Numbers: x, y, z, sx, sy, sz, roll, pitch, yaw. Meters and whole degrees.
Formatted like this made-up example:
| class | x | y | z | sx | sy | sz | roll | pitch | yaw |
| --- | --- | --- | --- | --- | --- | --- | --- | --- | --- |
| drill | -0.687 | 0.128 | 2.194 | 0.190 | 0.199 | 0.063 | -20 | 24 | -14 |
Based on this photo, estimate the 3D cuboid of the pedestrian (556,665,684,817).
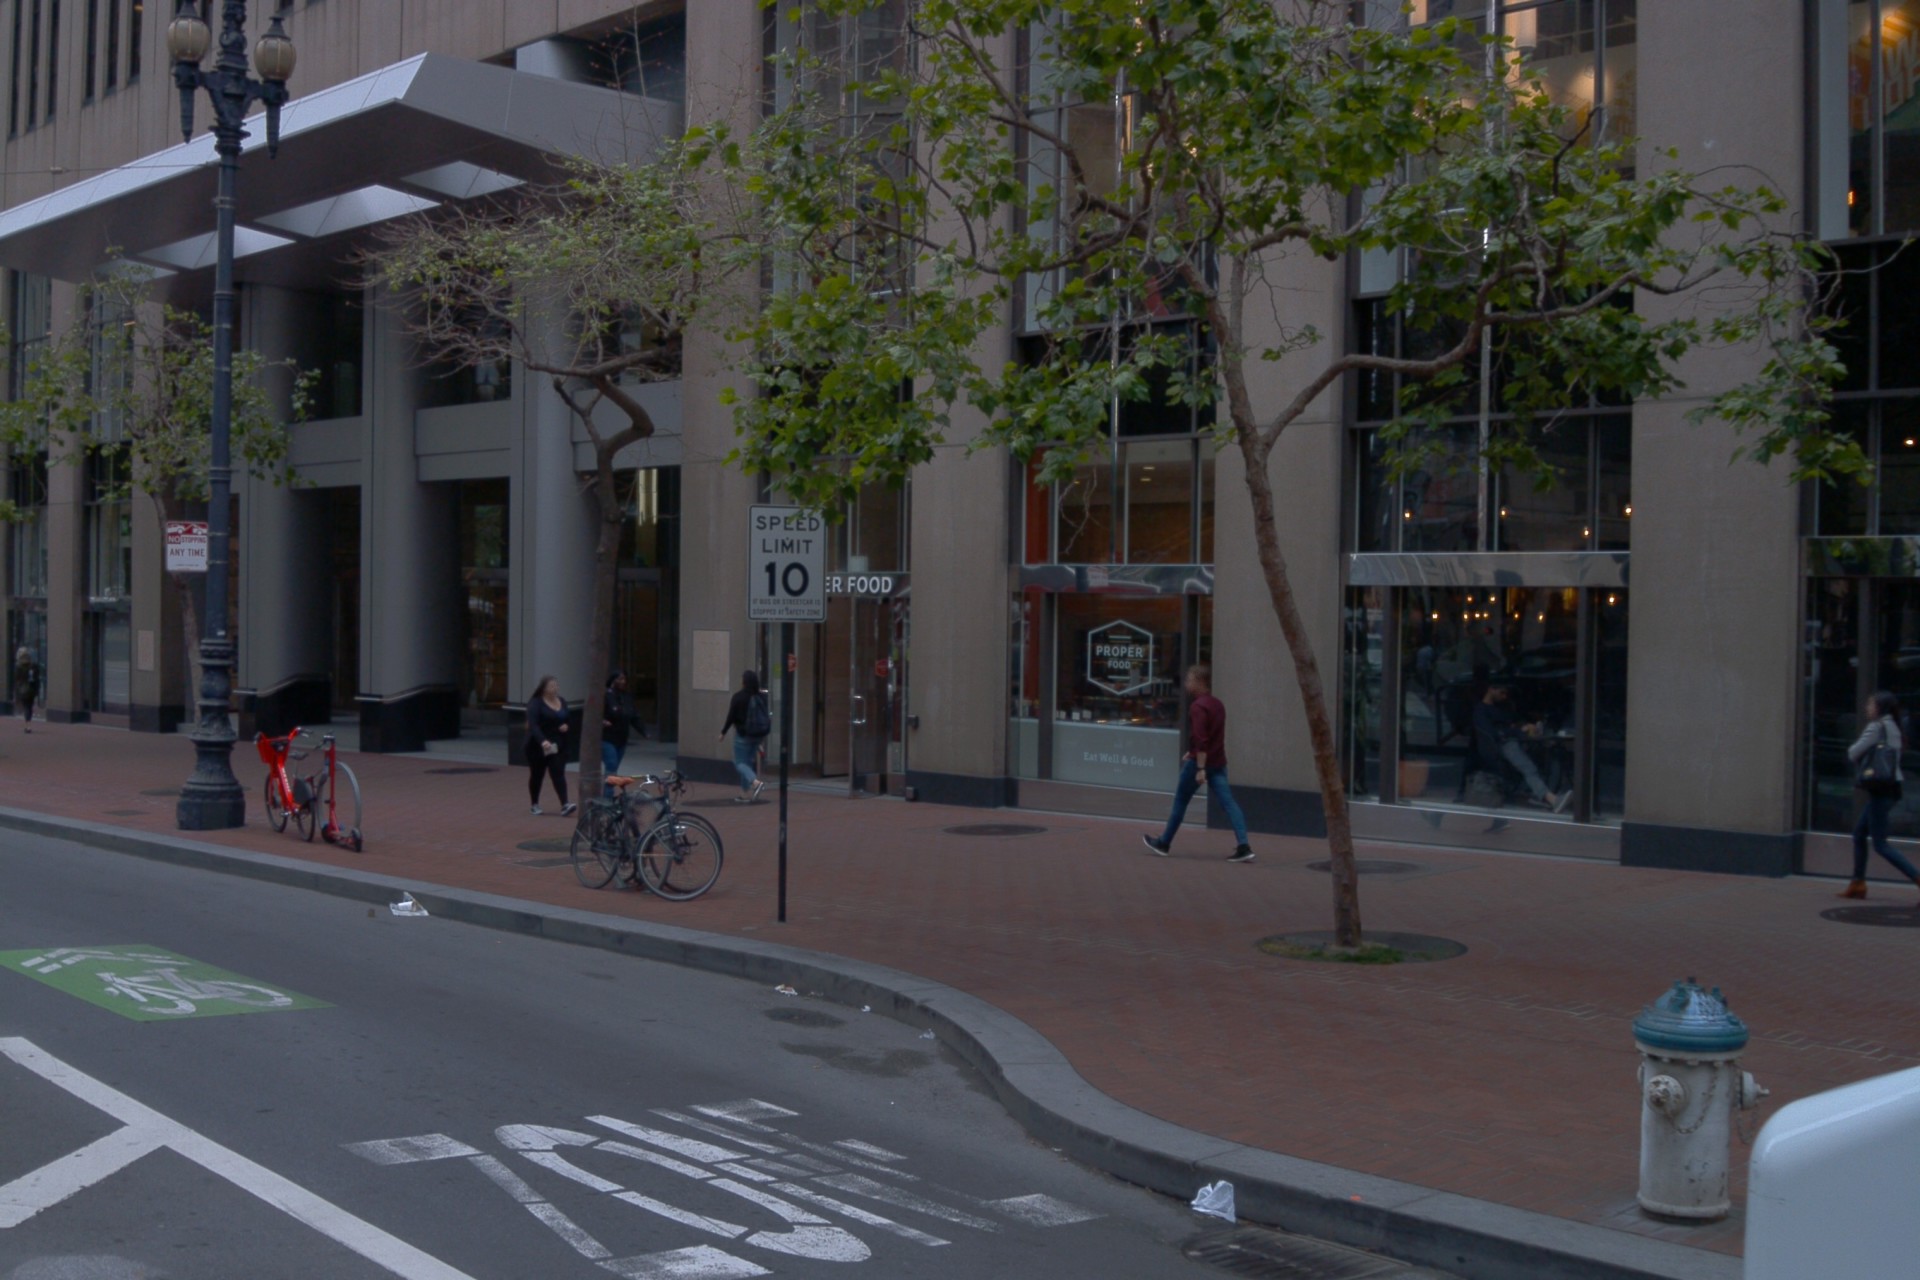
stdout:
| class | x | y | z | sx | sy | sz | roll | pitch | yaw |
| --- | --- | --- | --- | --- | --- | --- | --- | --- | --- |
| pedestrian | -3.976 | 1.151 | 23.919 | 0.901 | 1.700 | 1.319 | 0 | 0 | -42 |

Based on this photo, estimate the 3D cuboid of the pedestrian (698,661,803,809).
| class | x | y | z | sx | sy | sz | roll | pitch | yaw |
| --- | --- | --- | --- | --- | --- | --- | --- | --- | --- |
| pedestrian | -2.510 | 1.109 | 24.531 | 0.846 | 1.710 | 0.984 | 0 | 0 | -40 |

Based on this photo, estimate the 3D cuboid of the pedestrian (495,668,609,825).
| class | x | y | z | sx | sy | sz | roll | pitch | yaw |
| --- | --- | --- | --- | --- | --- | --- | --- | --- | --- |
| pedestrian | -4.632 | 1.181 | 23.228 | 0.894 | 1.710 | 1.015 | 0 | 0 | -39 |

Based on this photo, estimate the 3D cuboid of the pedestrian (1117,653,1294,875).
| class | x | y | z | sx | sy | sz | roll | pitch | yaw |
| --- | --- | --- | --- | --- | --- | --- | --- | --- | --- |
| pedestrian | 2.218 | 1.079 | 18.534 | 1.272 | 1.910 | 0.944 | 0 | 0 | 44 |
